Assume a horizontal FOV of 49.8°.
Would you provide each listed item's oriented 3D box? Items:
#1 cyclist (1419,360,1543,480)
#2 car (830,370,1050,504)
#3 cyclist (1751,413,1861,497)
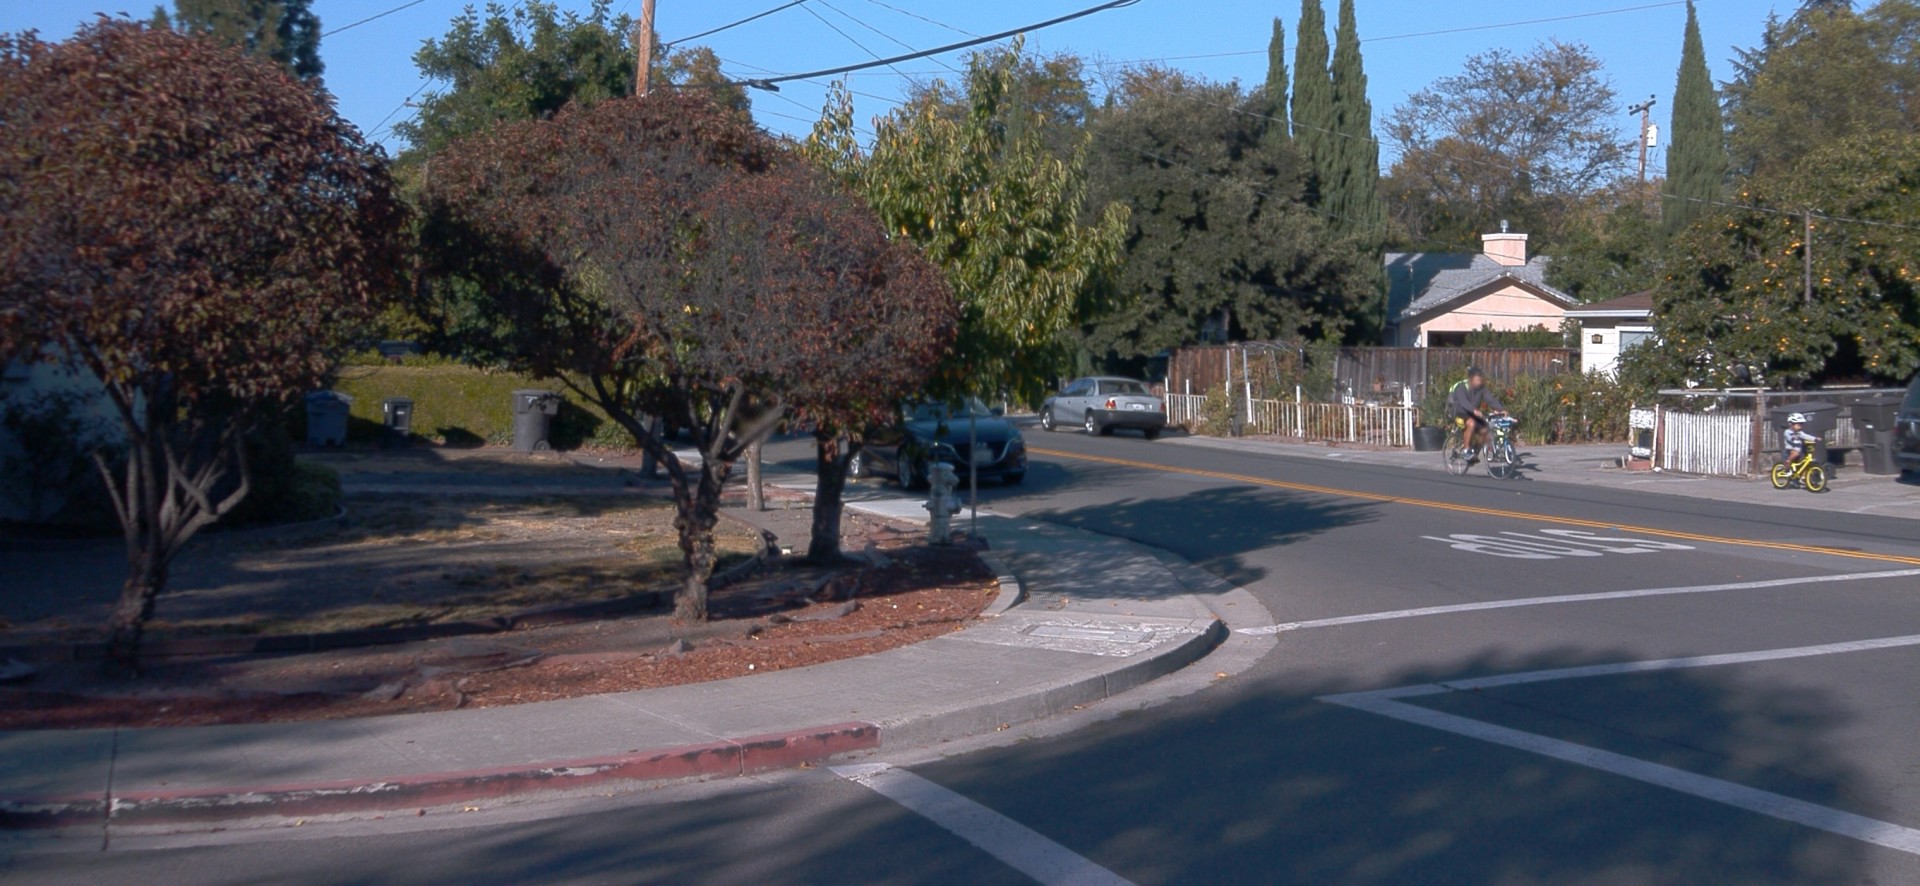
[{"bbox_3d":[8.111,-0.389,32.278,0.824,1.664,1.957,0,4,-24],"label":"cyclist"},{"bbox_3d":[-0.410,-0.178,31.680,2.032,1.554,4.626,-1,5,-19],"label":"car"},{"bbox_3d":[11.944,0.151,29.225,0.692,1.027,1.336,0,4,-24],"label":"cyclist"}]
